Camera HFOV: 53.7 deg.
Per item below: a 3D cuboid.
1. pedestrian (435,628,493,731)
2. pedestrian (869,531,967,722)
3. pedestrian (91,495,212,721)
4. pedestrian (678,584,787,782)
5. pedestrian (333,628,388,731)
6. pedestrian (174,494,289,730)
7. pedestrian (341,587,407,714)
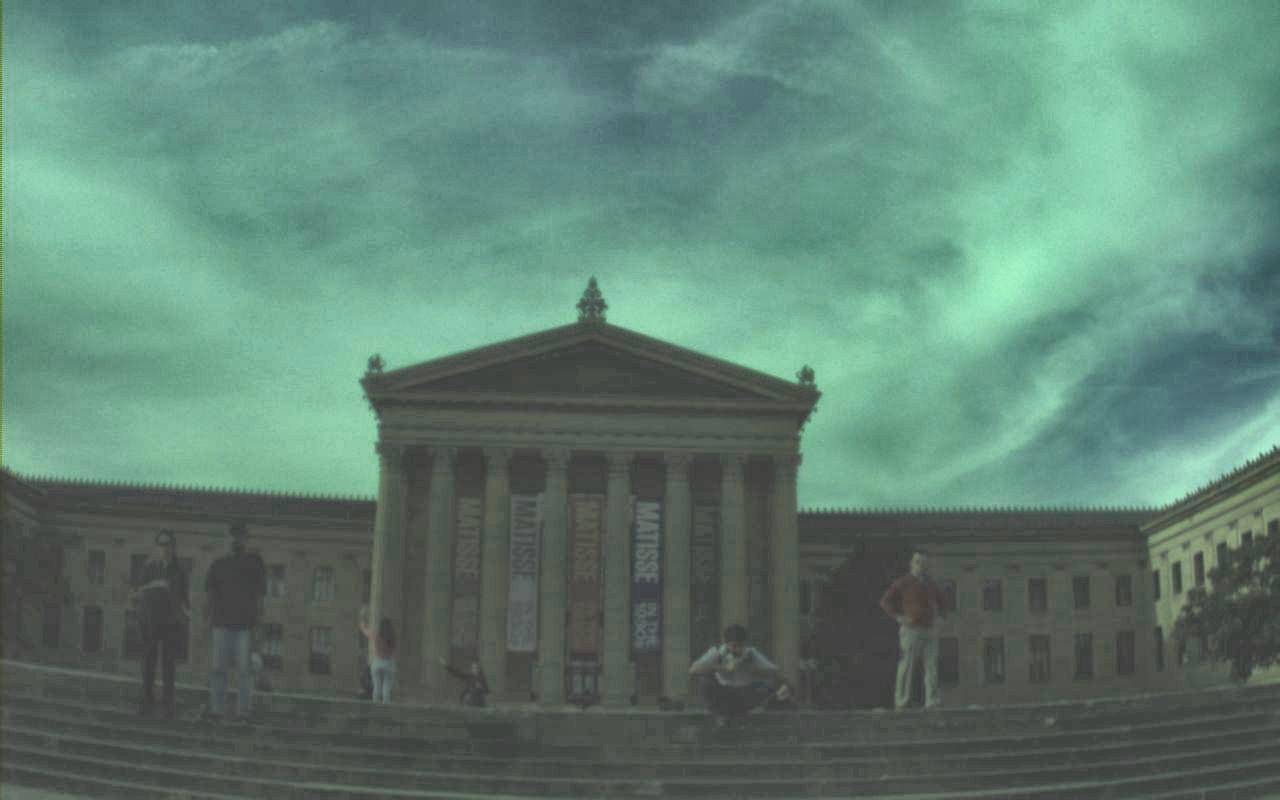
[{"bbox_3d":[-3.254,5.181,22.574,0.808,1.767,0.766,0,0,14],"label":"pedestrian"},{"bbox_3d":[2.841,2.329,12.538,0.814,1.854,0.844,0,0,2],"label":"pedestrian"},{"bbox_3d":[-4.164,1.775,9.857,0.783,1.810,0.779,0,0,-4],"label":"pedestrian"},{"bbox_3d":[0.765,2.402,10.444,0.786,1.577,0.703,0,0,-6],"label":"pedestrian"},{"bbox_3d":[-5.178,5.198,22.276,0.713,1.766,0.716,0,0,14],"label":"pedestrian"},{"bbox_3d":[-3.407,1.766,9.881,0.789,1.865,0.785,0,0,-9],"label":"pedestrian"},{"bbox_3d":[-4.147,3.906,18.835,0.800,1.837,0.768,0,0,-28],"label":"pedestrian"}]
